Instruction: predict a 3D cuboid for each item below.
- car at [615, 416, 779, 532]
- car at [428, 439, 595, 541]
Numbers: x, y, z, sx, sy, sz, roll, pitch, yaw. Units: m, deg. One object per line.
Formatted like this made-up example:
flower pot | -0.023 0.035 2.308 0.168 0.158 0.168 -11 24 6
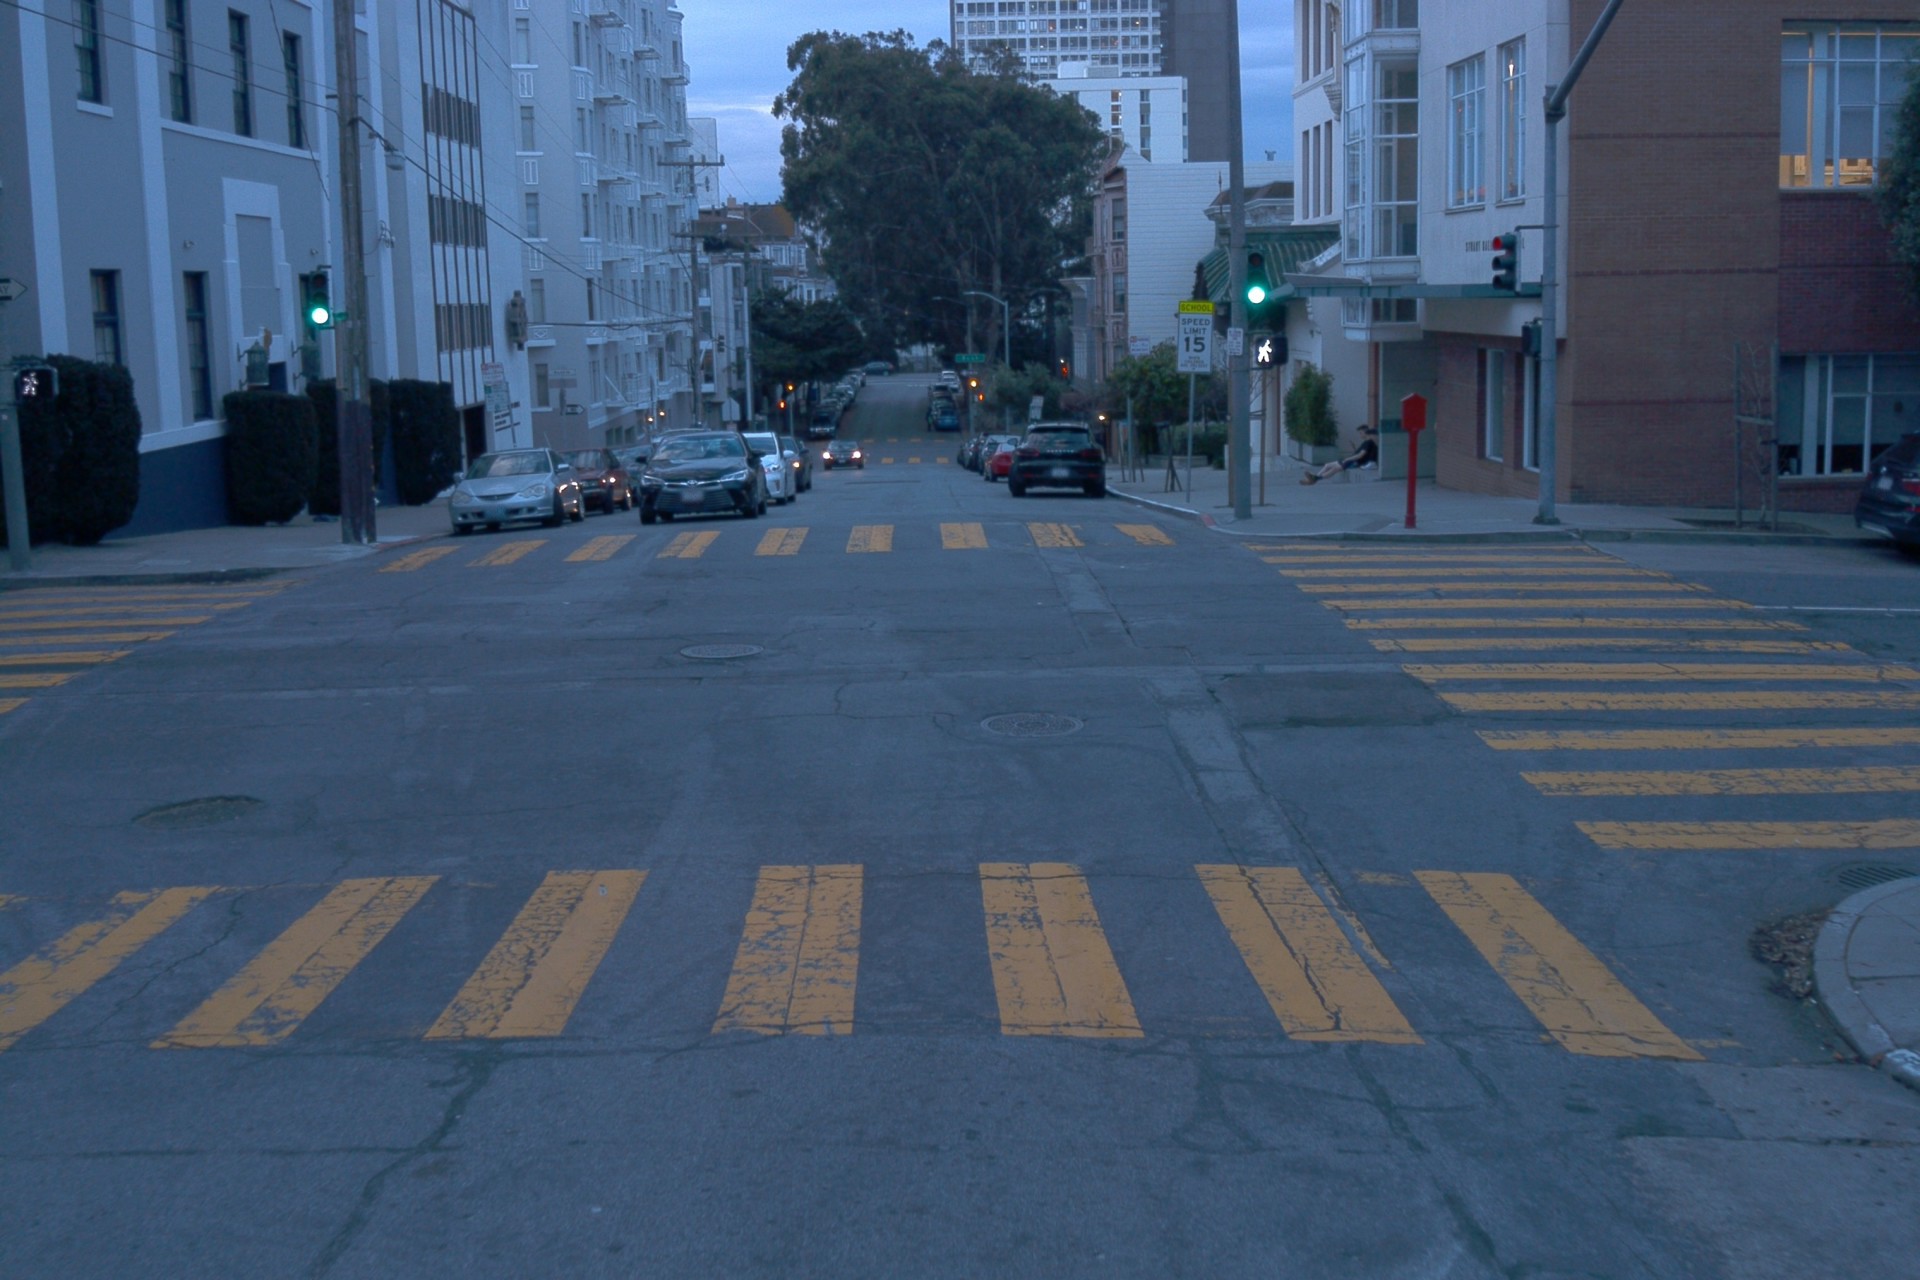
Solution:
car | -4.154 -2.617 33.262 2.144 1.530 4.749 1 1 -2
car | -7.564 -2.508 35.066 1.992 1.450 4.399 1 1 -2
